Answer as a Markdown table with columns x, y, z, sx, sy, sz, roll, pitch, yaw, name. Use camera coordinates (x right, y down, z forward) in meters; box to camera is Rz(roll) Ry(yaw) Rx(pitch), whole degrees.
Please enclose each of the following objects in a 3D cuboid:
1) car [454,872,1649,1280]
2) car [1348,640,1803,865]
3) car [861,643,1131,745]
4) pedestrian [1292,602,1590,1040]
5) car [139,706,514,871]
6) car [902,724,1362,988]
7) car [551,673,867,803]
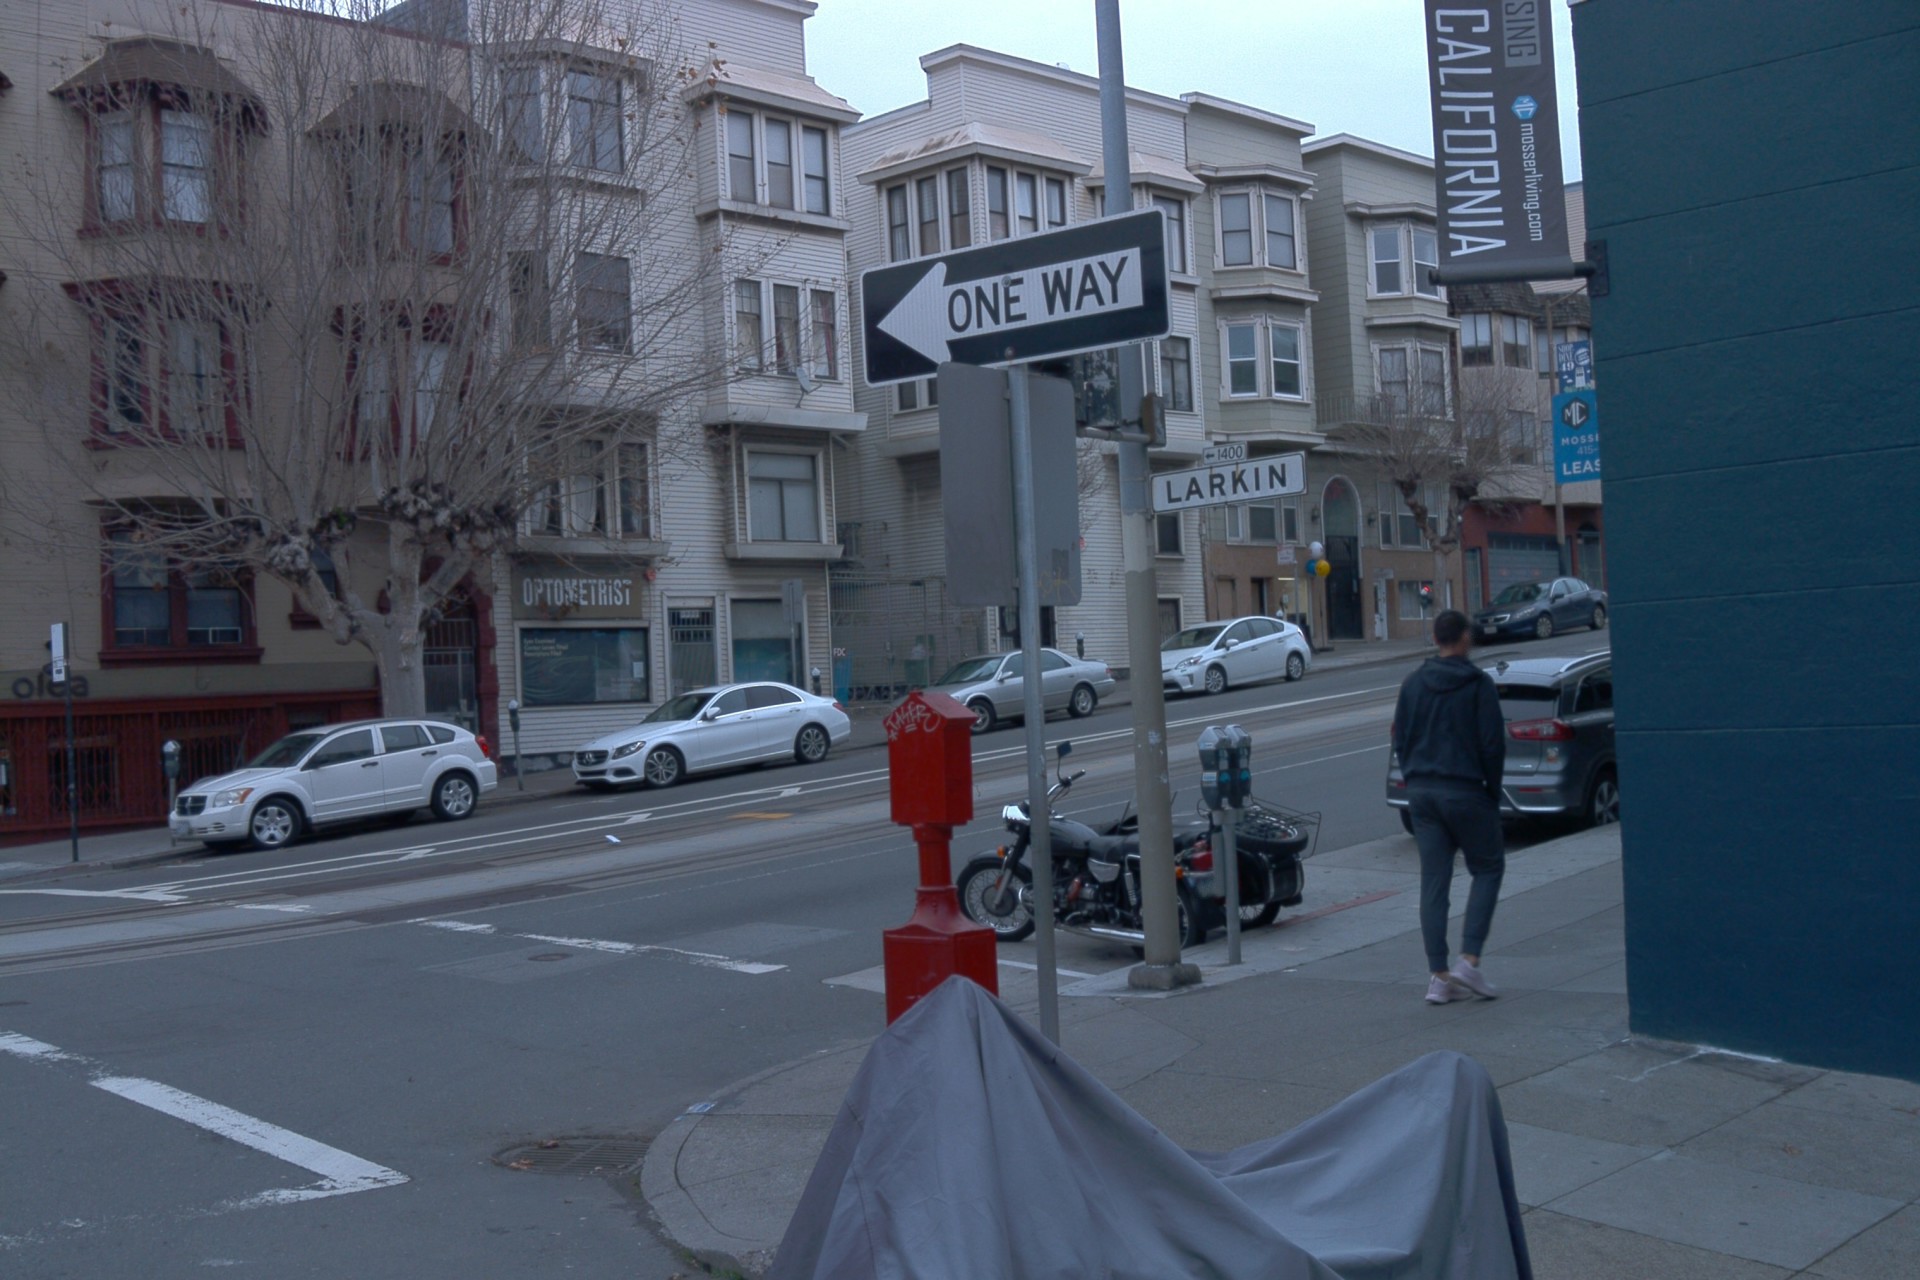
| x | y | z | sx | sy | sz | roll | pitch | yaw | name |
| --- | --- | --- | --- | --- | --- | --- | --- | --- | --- |
| 0.332 | 1.392 | 4.286 | 2.490 | 1.520 | 1.048 | -1 | 1 | -44 | car |
| 5.645 | 0.882 | 18.584 | 2.132 | 1.717 | 4.606 | 0 | 1 | 42 | car |
| 0.712 | 0.916 | 37.121 | 4.801 | 1.657 | 2.084 | -1 | 1 | -45 | car |
| 2.463 | 0.845 | 10.517 | 1.450 | 2.066 | 0.822 | -1 | 1 | -44 | pedestrian |
| -8.482 | 1.915 | 27.920 | 2.053 | 1.847 | 4.407 | 1 | 1 | 44 | car |
| 1.133 | 1.377 | 14.055 | 2.745 | 1.460 | 1.540 | 0 | 1 | 42 | car |
| -3.872 | 1.462 | 32.361 | 4.589 | 1.757 | 2.074 | -1 | 1 | -44 | car |
